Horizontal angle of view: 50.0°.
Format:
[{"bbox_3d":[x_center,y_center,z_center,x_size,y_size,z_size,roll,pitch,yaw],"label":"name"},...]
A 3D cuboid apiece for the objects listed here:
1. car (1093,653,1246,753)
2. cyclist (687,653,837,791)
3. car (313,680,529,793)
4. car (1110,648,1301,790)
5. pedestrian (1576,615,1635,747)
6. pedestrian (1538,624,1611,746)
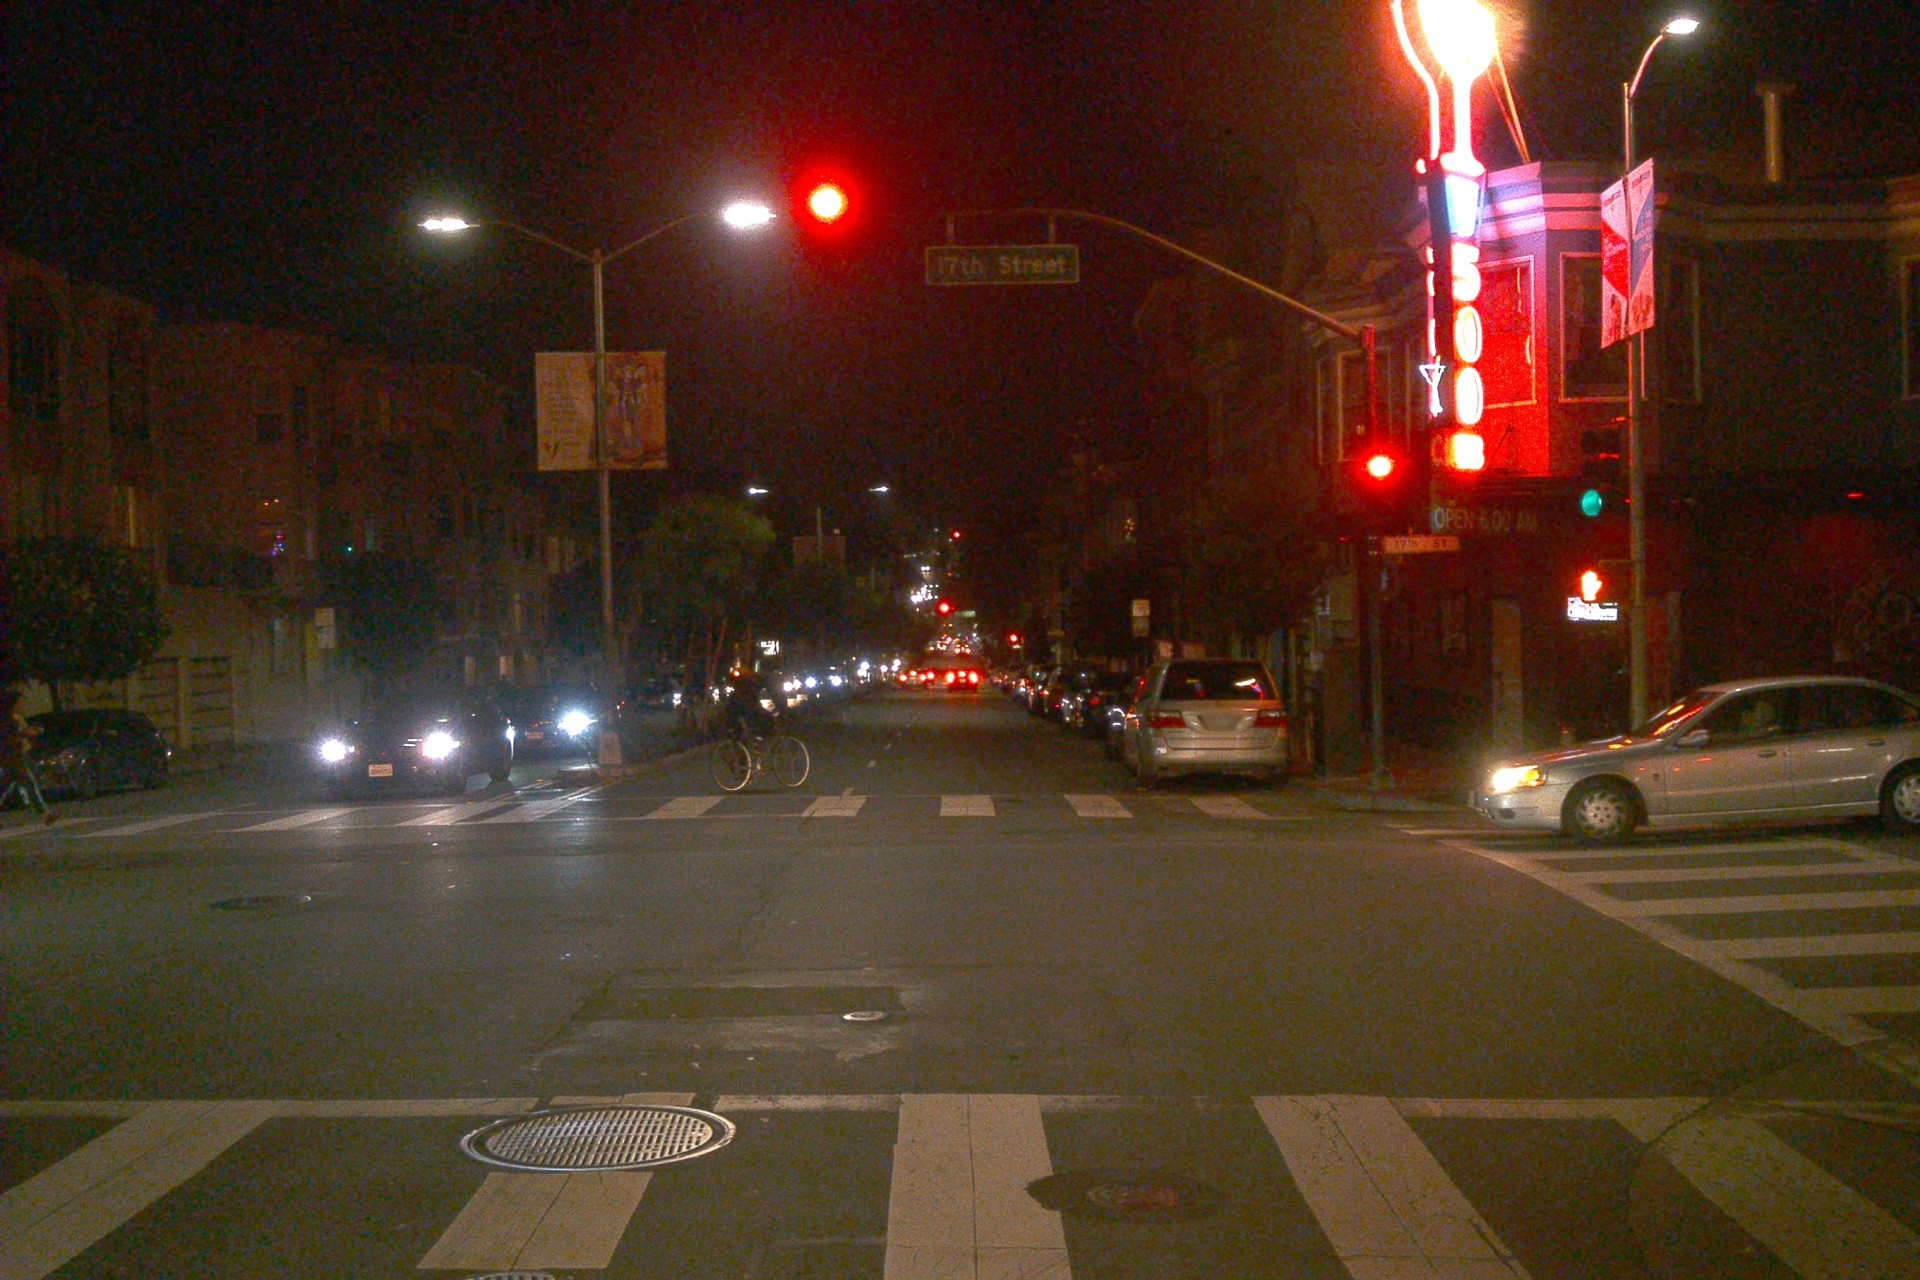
[{"bbox_3d":[3.322,0.972,33.307,1.810,1.470,4.216,1,0,-3],"label":"car"},{"bbox_3d":[-2.621,1.056,27.359,0.822,1.760,1.917,1,0,43],"label":"cyclist"},{"bbox_3d":[-7.622,1.320,29.519,1.903,1.390,4.511,1,0,0],"label":"car"},{"bbox_3d":[3.288,1.015,28.469,2.087,1.770,4.655,1,0,0],"label":"car"},{"bbox_3d":[9.050,0.568,28.828,0.739,1.820,0.628,1,0,20],"label":"pedestrian"},{"bbox_3d":[8.813,0.635,29.498,0.721,1.720,0.691,1,0,-18],"label":"pedestrian"}]
